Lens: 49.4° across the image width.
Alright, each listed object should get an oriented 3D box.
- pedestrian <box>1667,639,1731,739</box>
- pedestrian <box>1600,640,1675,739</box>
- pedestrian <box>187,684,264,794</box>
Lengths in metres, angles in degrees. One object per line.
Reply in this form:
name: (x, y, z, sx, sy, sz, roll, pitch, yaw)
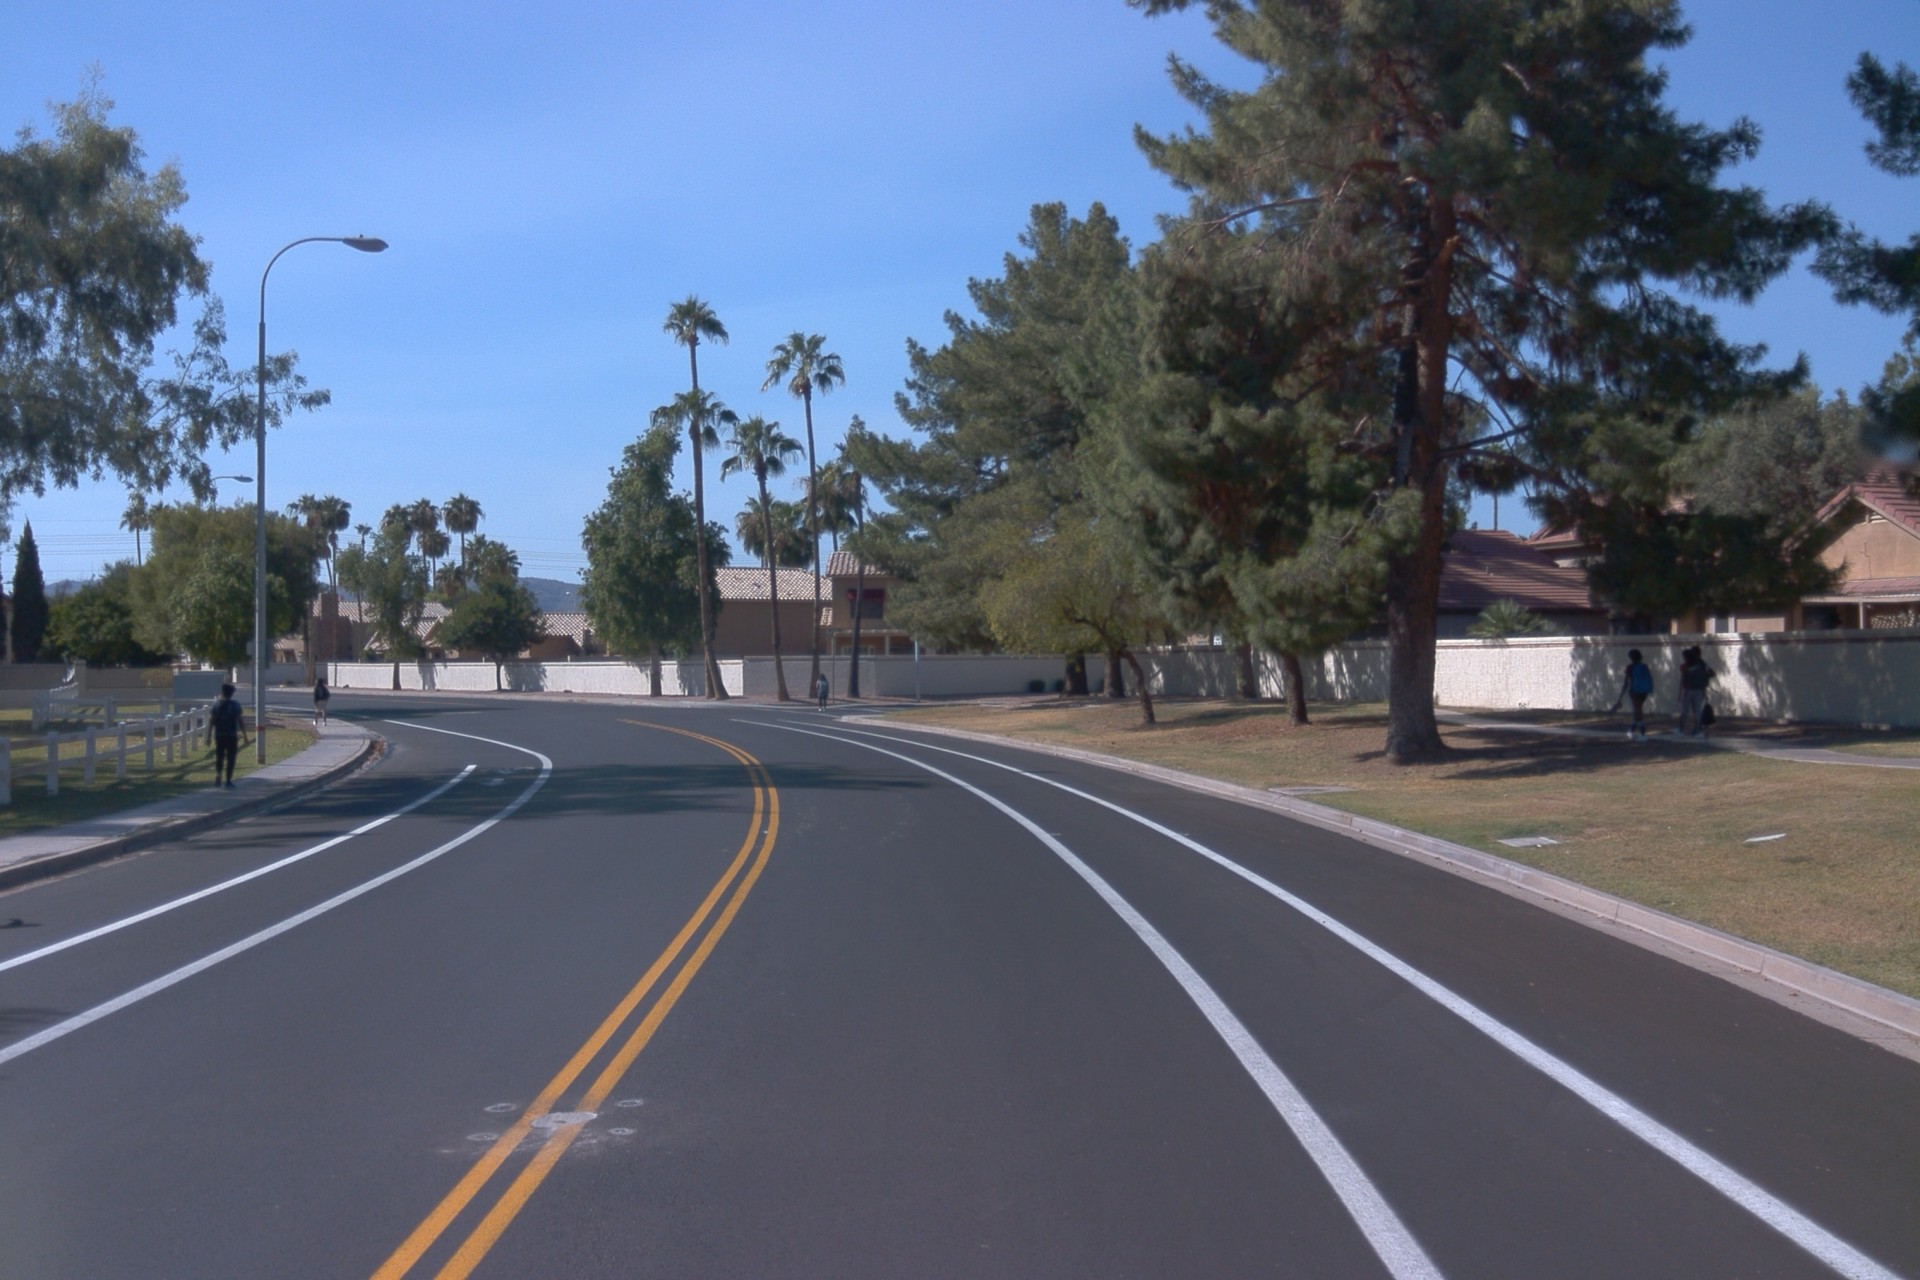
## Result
pedestrian: (12.431, 0.819, 35.155, 0.663, 1.656, 0.983, 0, 0, -4)
pedestrian: (11.577, 0.833, 35.693, 0.803, 1.662, 1.051, 1, 0, -11)
pedestrian: (-12.018, 1.606, 34.176, 0.990, 1.760, 1.026, 1, 0, -8)
